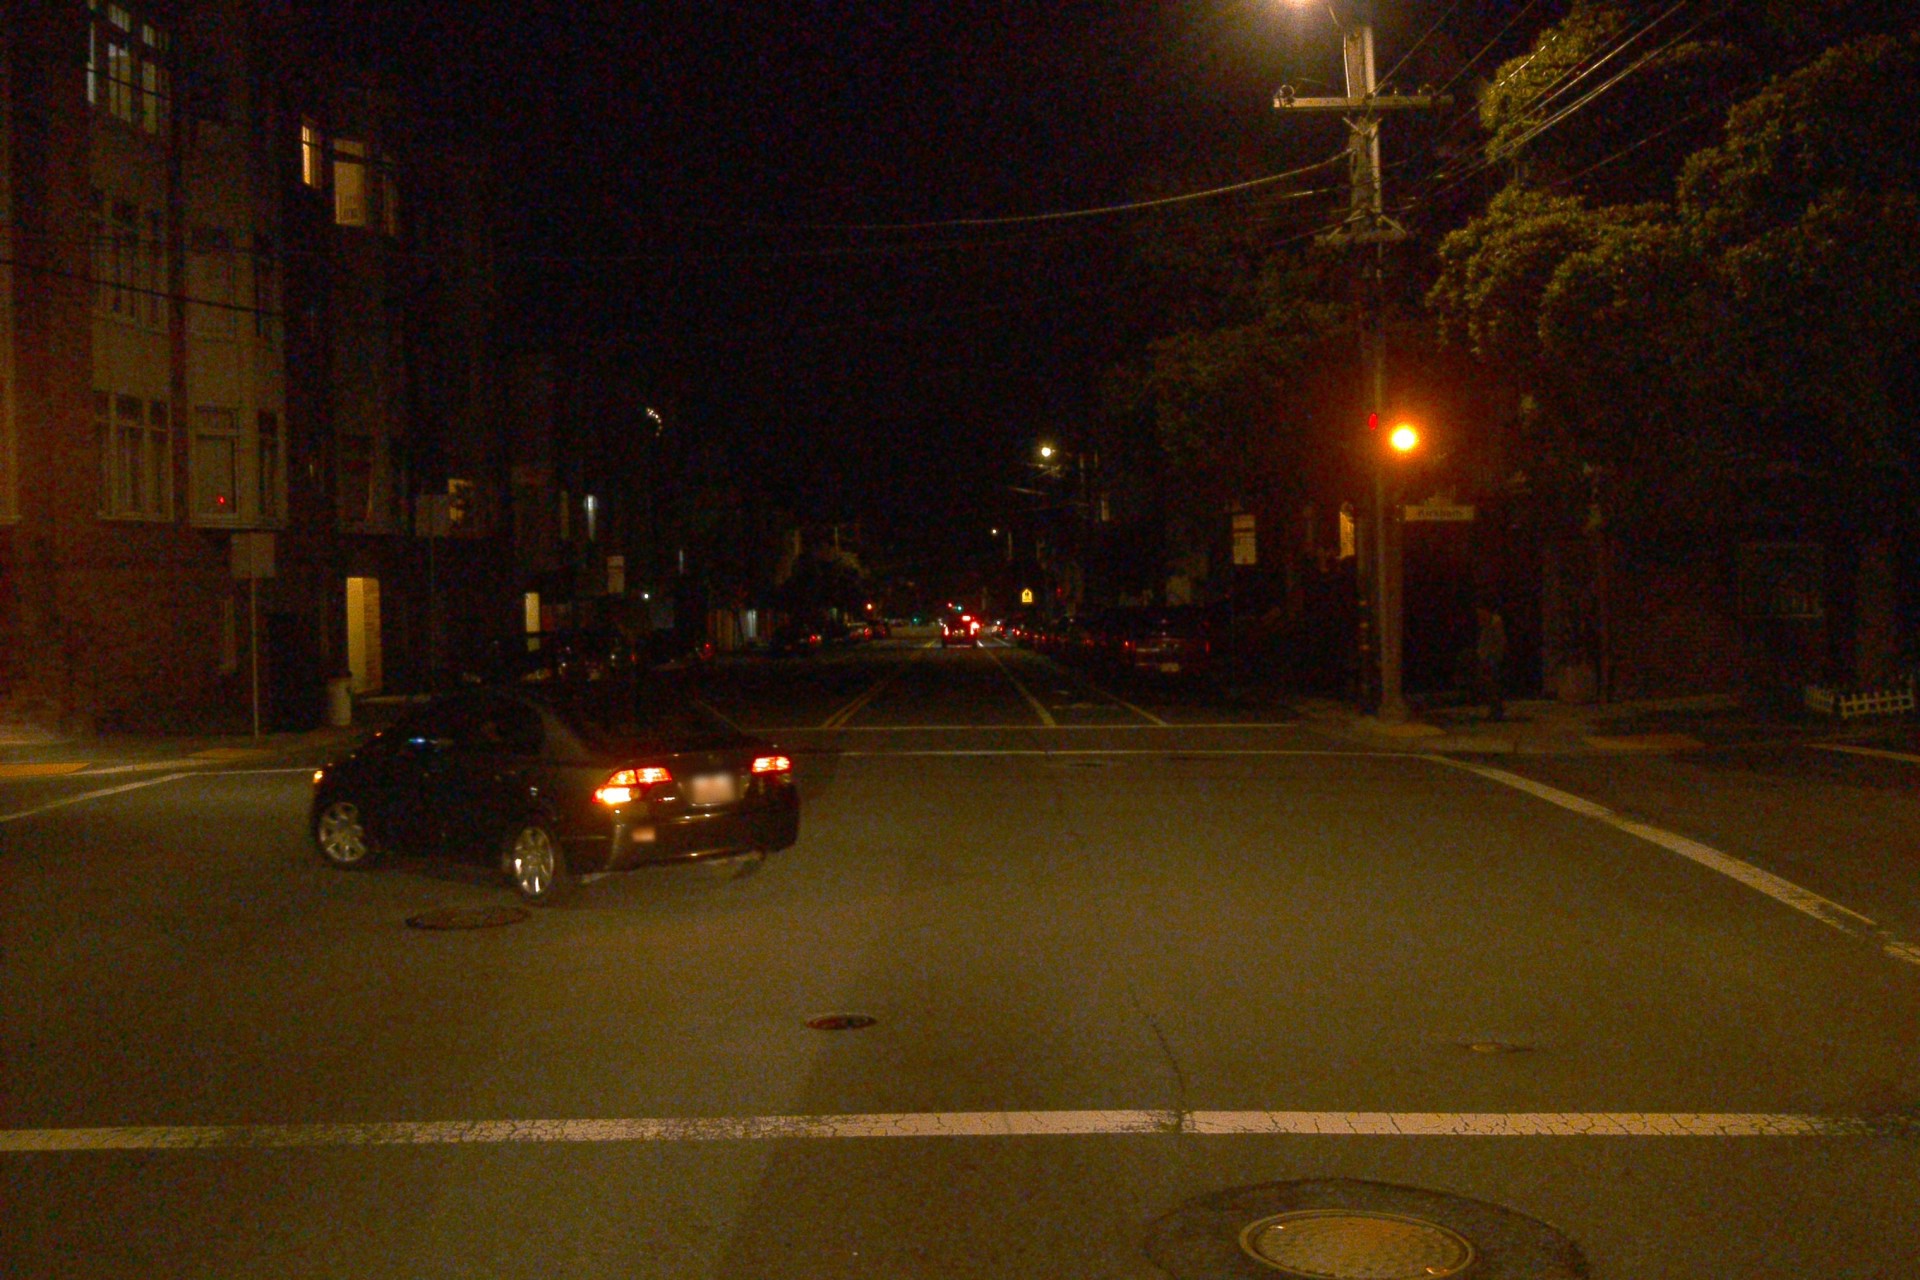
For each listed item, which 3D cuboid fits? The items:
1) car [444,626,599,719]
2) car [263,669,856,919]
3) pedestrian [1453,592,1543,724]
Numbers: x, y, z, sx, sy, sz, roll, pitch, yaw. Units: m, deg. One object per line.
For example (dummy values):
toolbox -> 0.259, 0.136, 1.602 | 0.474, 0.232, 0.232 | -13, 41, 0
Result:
car -> -7.902, 0.552, 37.178 | 1.948, 1.580, 4.098 | 1, 0, 0
car -> -3.049, 0.974, 14.858 | 2.065, 1.420, 4.599 | 0, 0, -44
pedestrian -> 6.978, 0.235, 26.545 | 0.936, 1.691, 0.623 | 0, 0, -10
